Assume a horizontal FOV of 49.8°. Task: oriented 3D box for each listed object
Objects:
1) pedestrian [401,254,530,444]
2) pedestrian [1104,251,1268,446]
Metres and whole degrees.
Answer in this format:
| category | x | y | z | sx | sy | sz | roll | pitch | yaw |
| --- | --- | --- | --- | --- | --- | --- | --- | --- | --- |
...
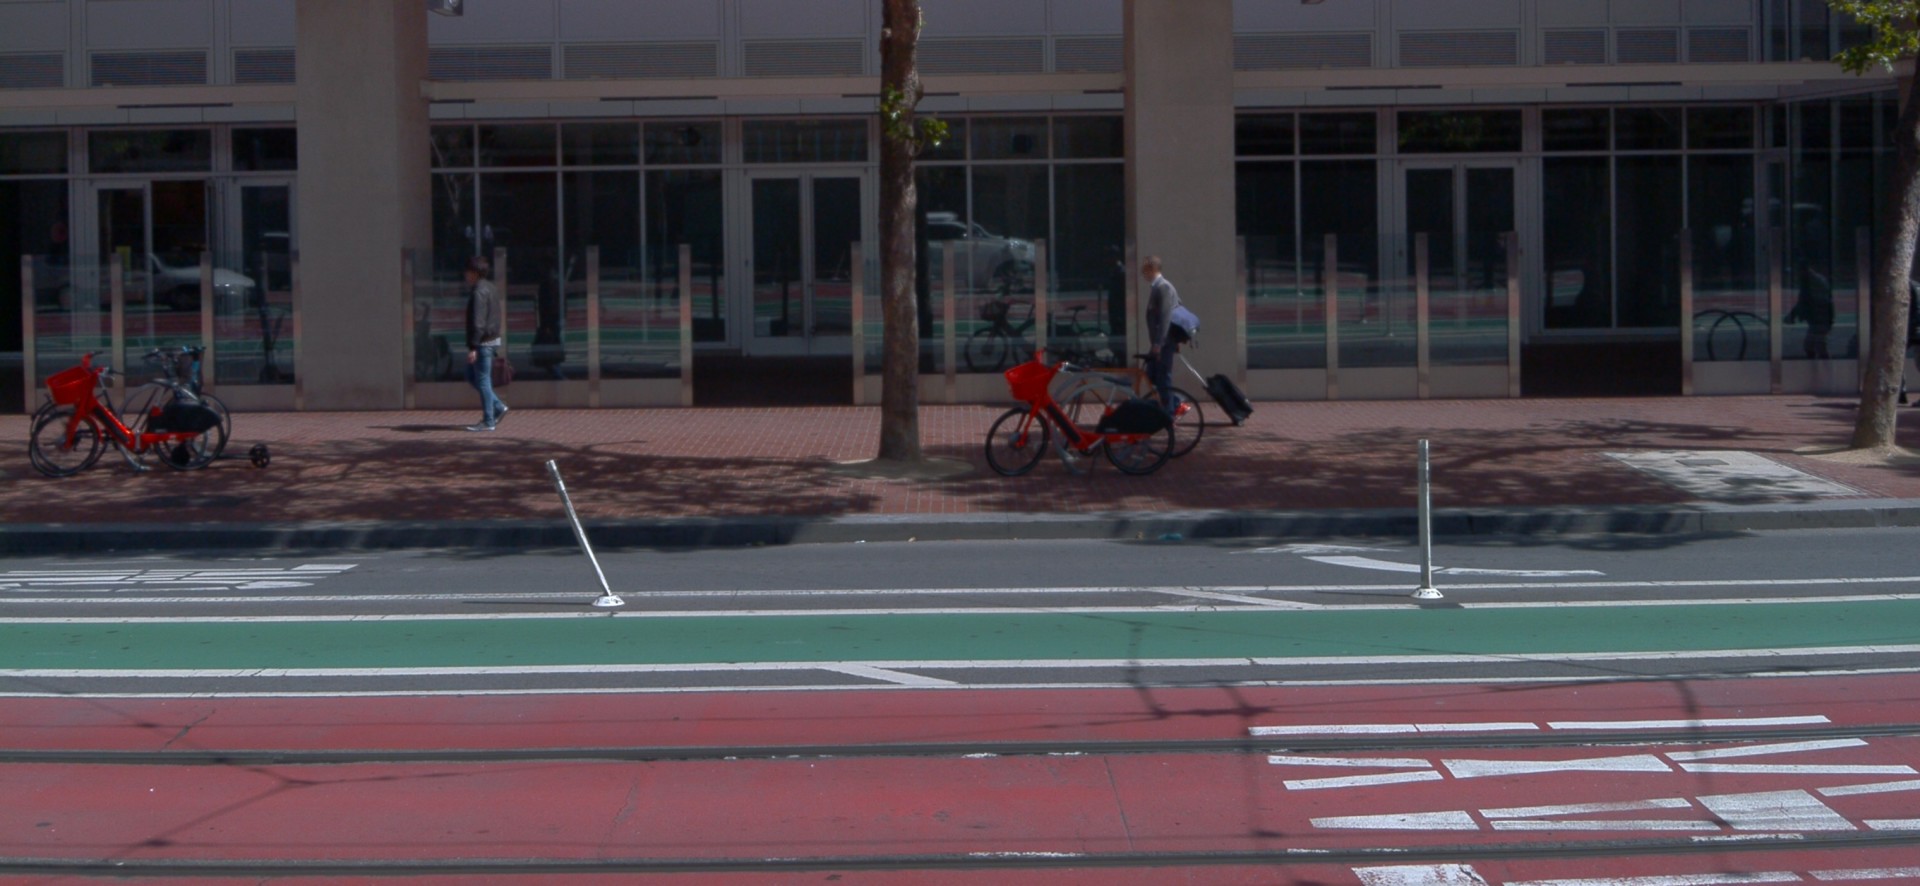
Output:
| category | x | y | z | sx | sy | sz | roll | pitch | yaw |
| --- | --- | --- | --- | --- | --- | --- | --- | --- | --- |
| pedestrian | -5.266 | -1.025 | 22.070 | 1.195 | 1.946 | 0.855 | -1 | 2 | -4 |
| pedestrian | 2.340 | -1.012 | 21.589 | 1.554 | 1.946 | 0.982 | -1 | 2 | -3 |
